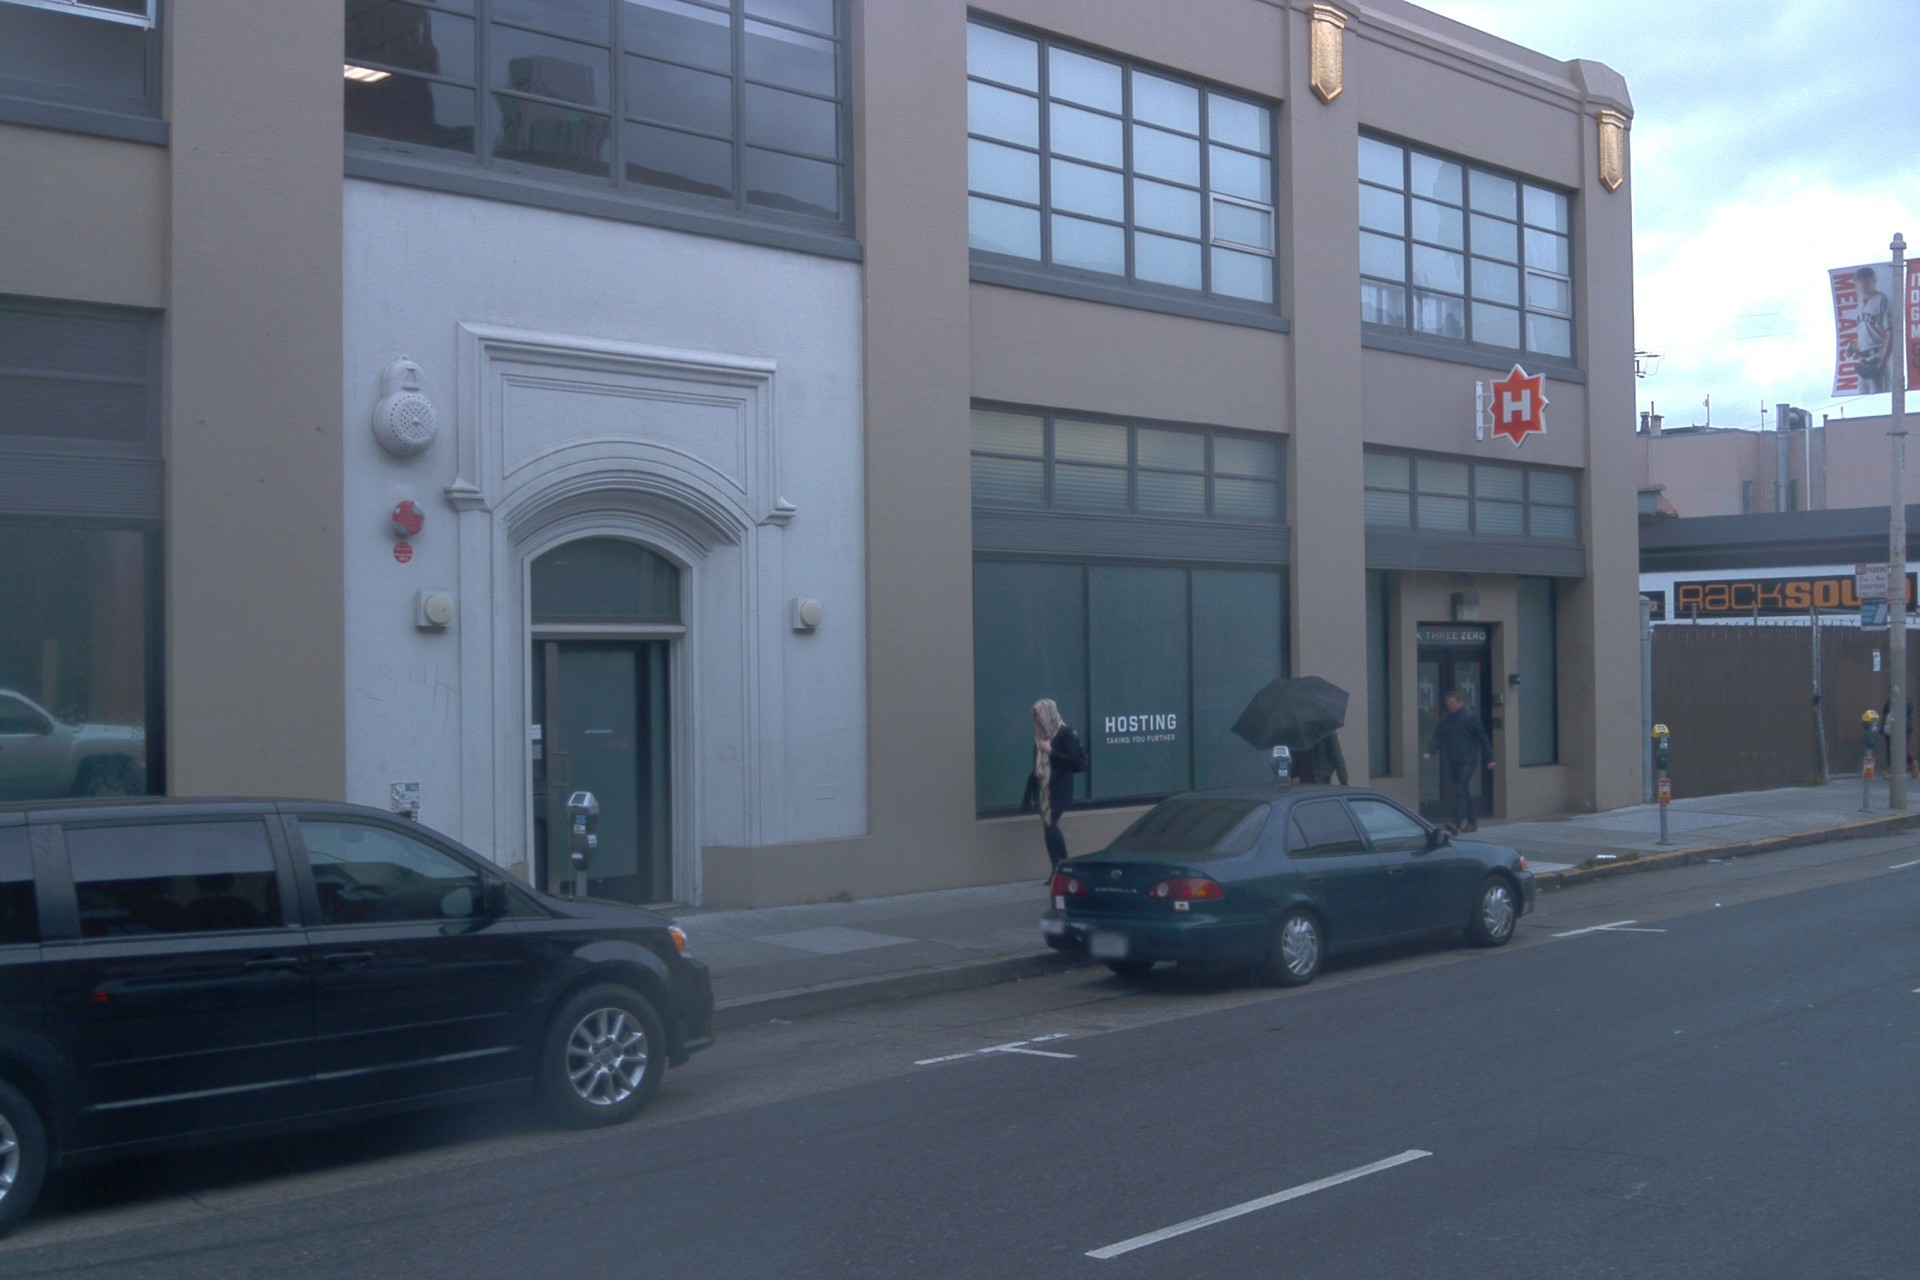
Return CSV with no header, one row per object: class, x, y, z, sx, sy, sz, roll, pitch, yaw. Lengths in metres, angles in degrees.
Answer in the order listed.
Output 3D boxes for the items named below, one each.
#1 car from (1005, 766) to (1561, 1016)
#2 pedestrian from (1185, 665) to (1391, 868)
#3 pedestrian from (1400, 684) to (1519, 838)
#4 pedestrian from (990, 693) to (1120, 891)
car,2.498,1.725,15.347,4.350,1.328,1.799,0,0,-44
pedestrian,3.367,1.242,21.323,1.495,1.950,1.513,0,0,42
pedestrian,5.820,1.383,24.232,0.924,1.708,1.083,0,0,44
pedestrian,0.877,1.375,19.200,0.841,1.740,0.852,0,0,44
